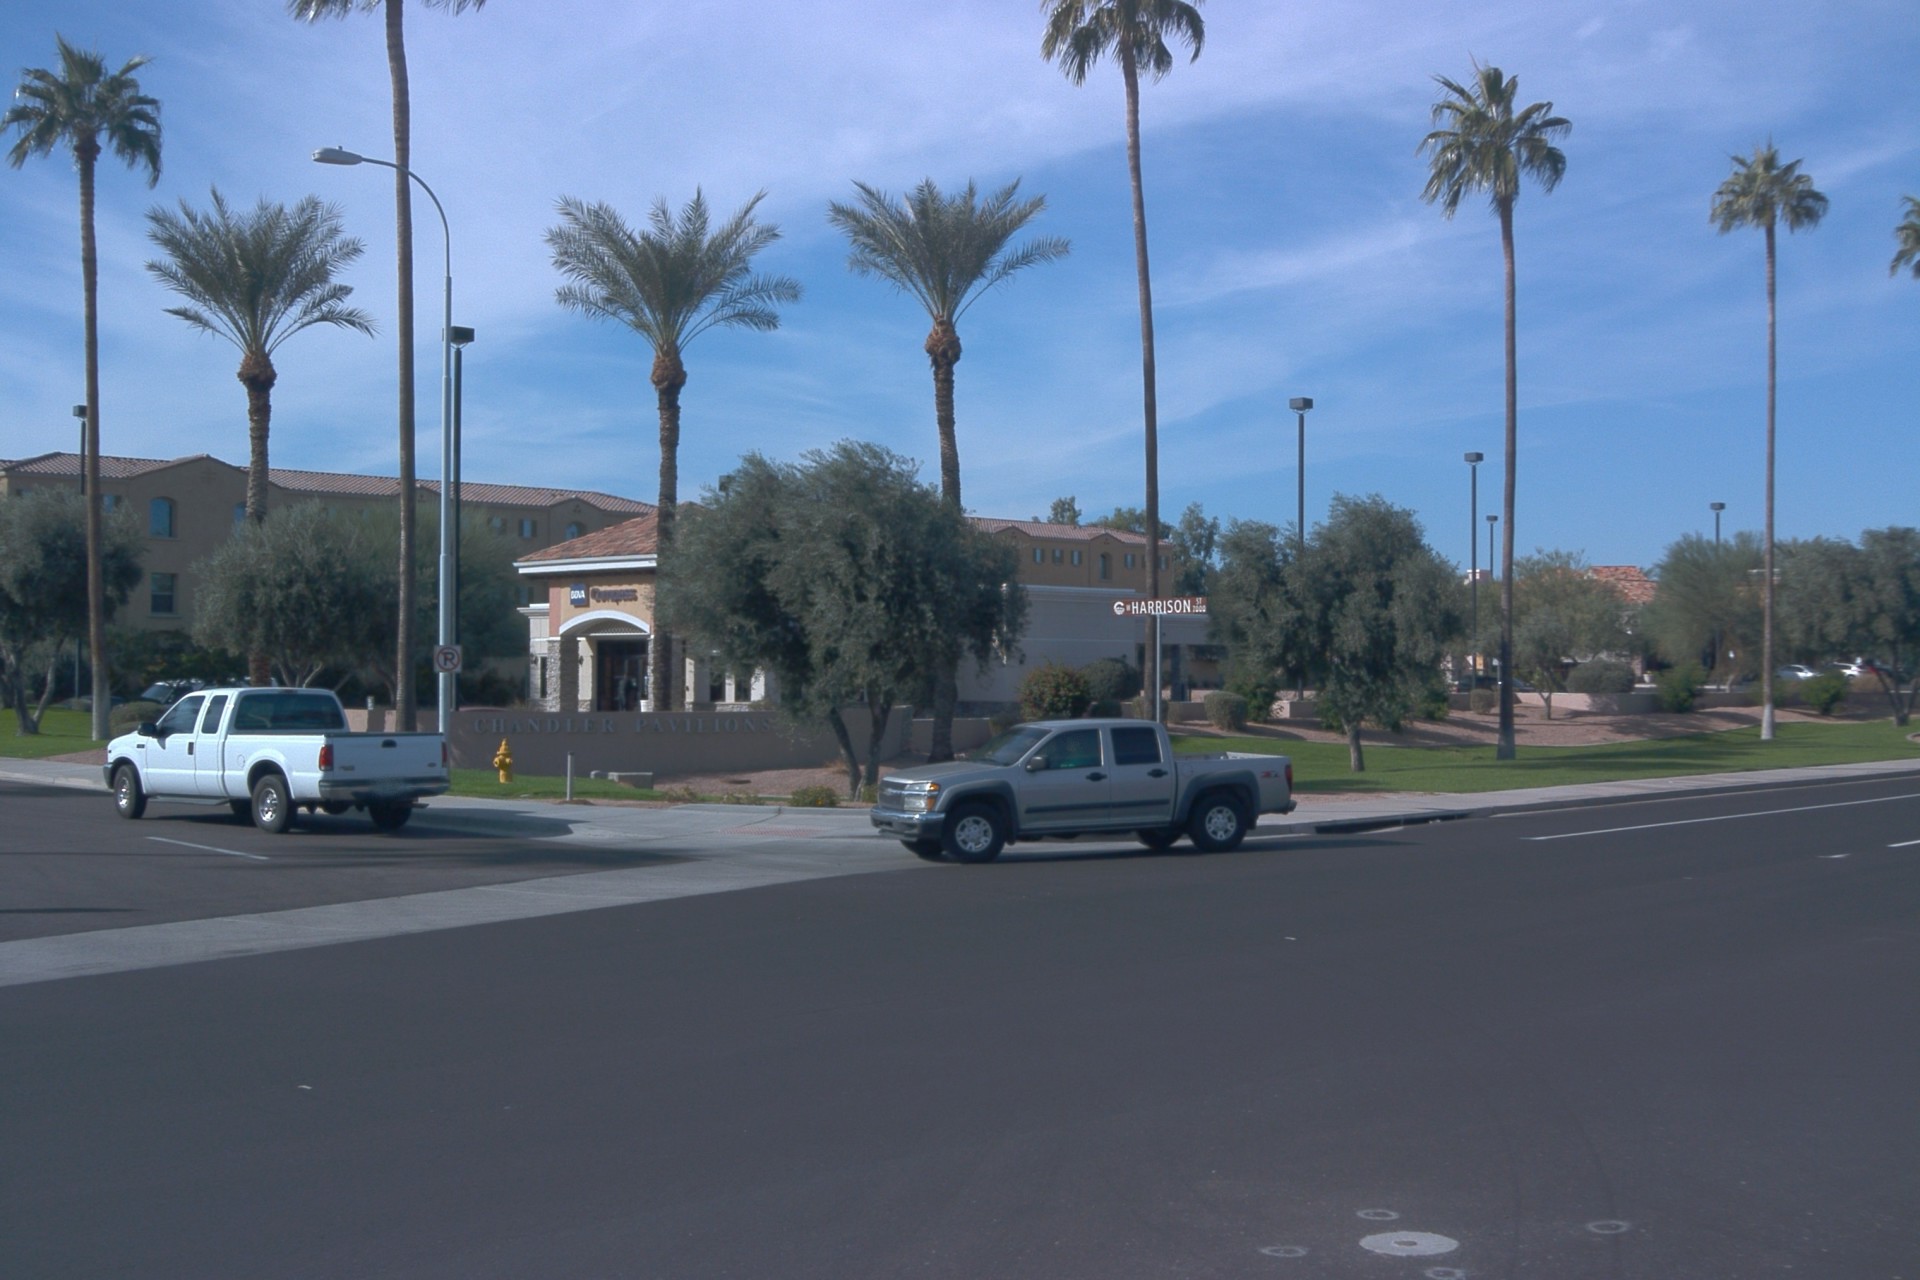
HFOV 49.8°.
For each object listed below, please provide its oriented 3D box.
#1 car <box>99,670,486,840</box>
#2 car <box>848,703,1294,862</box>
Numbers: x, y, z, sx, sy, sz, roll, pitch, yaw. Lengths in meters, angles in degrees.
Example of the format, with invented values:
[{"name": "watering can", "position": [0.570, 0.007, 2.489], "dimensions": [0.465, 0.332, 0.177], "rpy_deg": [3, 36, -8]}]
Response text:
[{"name": "car", "position": [-9.509, 1.513, 29.179], "dimensions": [5.672, 2.030, 2.429], "rpy_deg": [1, 0, 38]}, {"name": "car", "position": [1.406, 1.722, 26.019], "dimensions": [5.243, 1.770, 2.040], "rpy_deg": [1, 0, -23]}]
